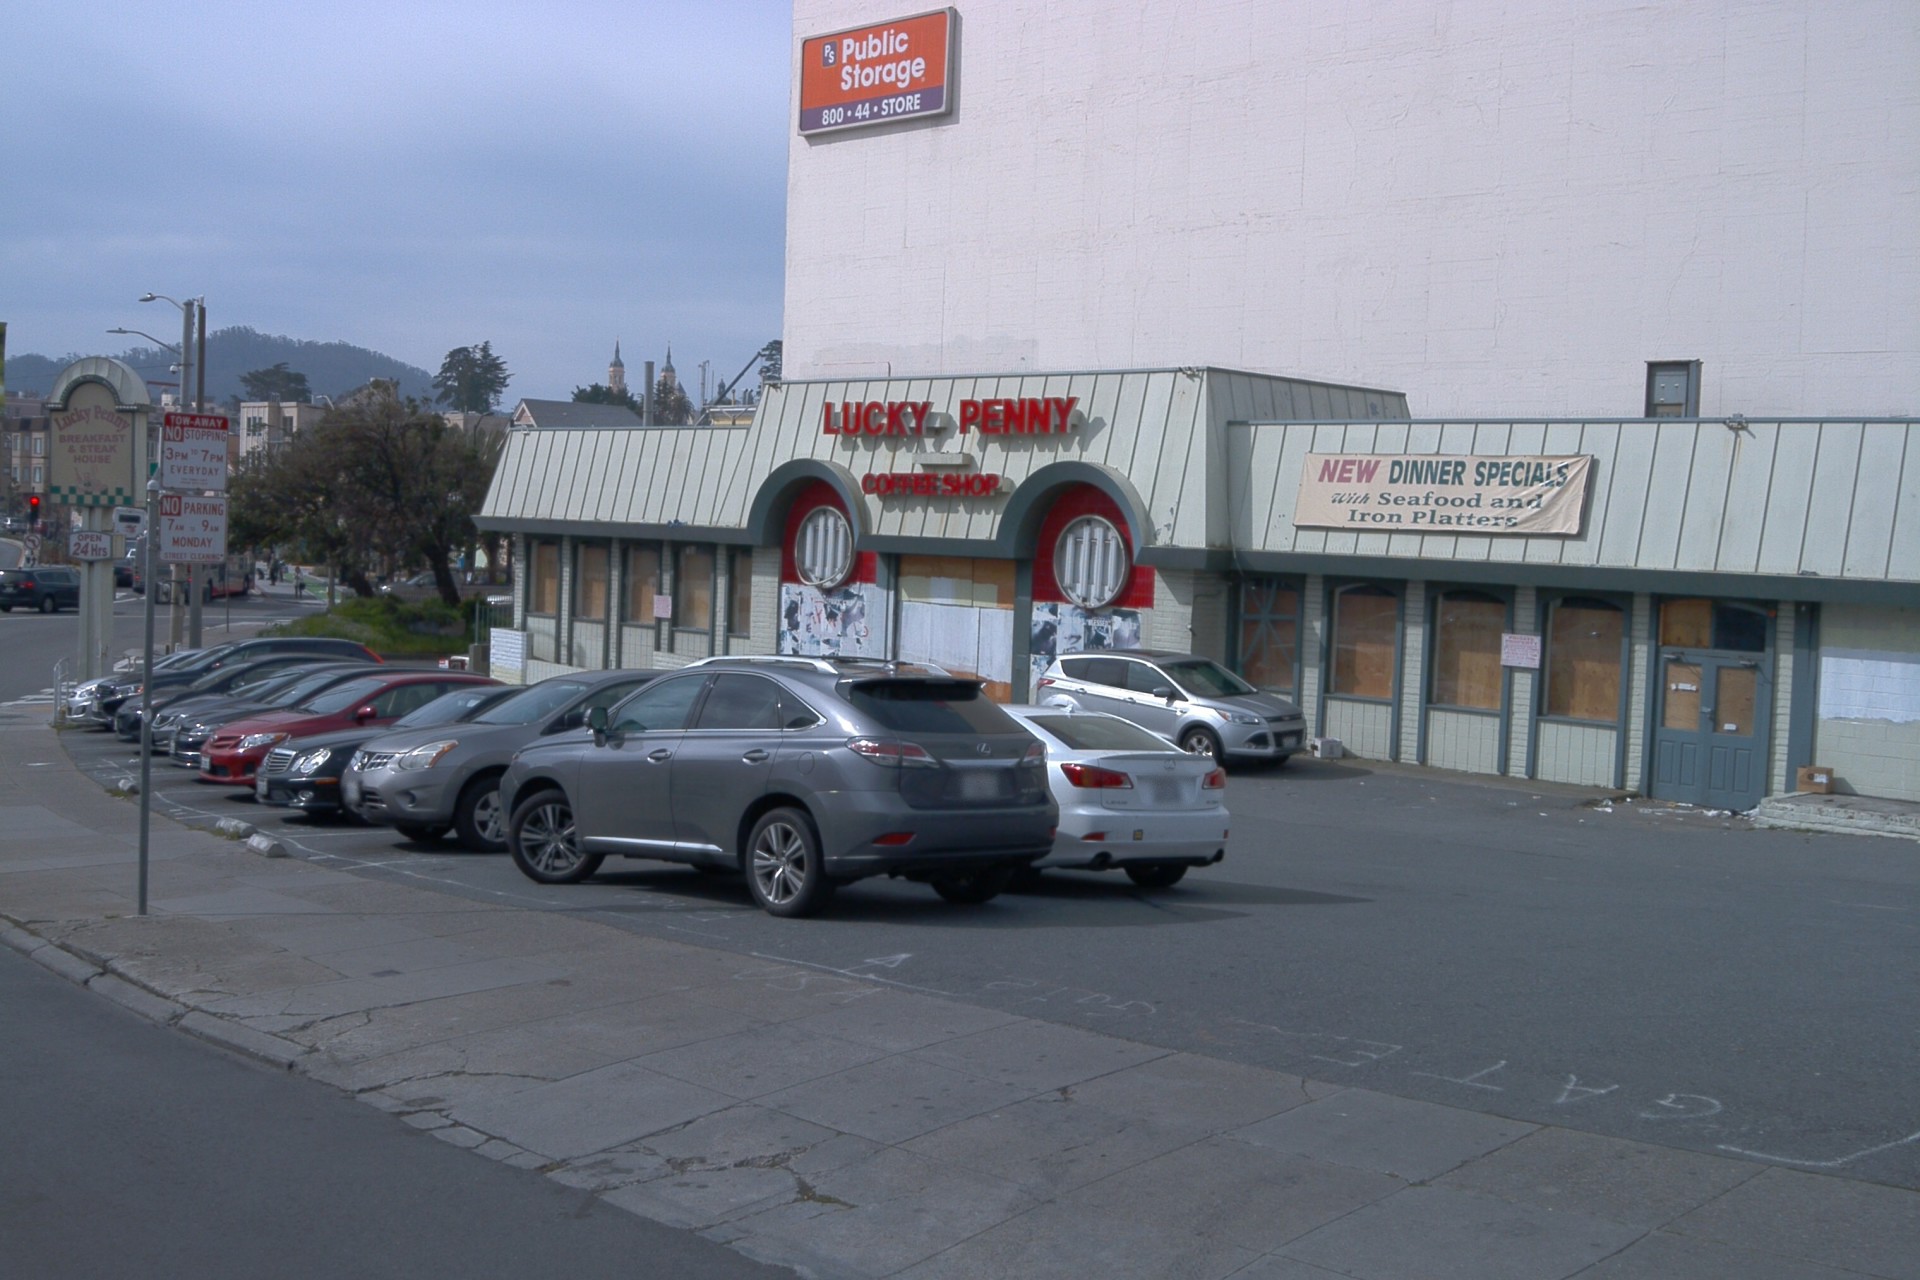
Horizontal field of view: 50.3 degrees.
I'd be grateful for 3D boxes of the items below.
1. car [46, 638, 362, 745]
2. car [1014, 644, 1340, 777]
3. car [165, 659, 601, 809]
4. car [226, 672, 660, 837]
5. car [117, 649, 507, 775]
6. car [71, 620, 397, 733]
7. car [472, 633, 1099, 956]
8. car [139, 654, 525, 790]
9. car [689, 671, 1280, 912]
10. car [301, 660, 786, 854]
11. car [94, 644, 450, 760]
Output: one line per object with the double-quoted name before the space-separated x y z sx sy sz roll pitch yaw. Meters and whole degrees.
"car" -13.227 0.853 35.963 4.757 1.740 2.072 0 0 -43
"car" 3.196 0.984 30.820 2.134 1.790 4.557 0 0 -44
"car" -6.750 1.029 24.219 4.484 1.550 2.134 0 0 -44
"car" -5.359 1.120 21.531 4.029 1.500 1.869 0 0 -45
"car" -9.075 0.943 28.886 4.736 1.590 2.241 0 0 -44
"car" -11.806 0.556 33.437 4.561 1.710 2.059 0 0 -43
"car" -1.388 0.937 14.702 2.065 1.920 4.493 0 0 -45
"car" -8.065 0.987 26.512 4.343 1.580 1.994 0 0 -43
"car" 0.063 1.099 16.794 2.088 1.580 4.738 0 0 -44
"car" -3.810 0.994 19.148 1.975 1.570 4.019 1 0 44
"car" -10.429 0.880 31.209 4.651 1.610 2.192 0 0 -43
